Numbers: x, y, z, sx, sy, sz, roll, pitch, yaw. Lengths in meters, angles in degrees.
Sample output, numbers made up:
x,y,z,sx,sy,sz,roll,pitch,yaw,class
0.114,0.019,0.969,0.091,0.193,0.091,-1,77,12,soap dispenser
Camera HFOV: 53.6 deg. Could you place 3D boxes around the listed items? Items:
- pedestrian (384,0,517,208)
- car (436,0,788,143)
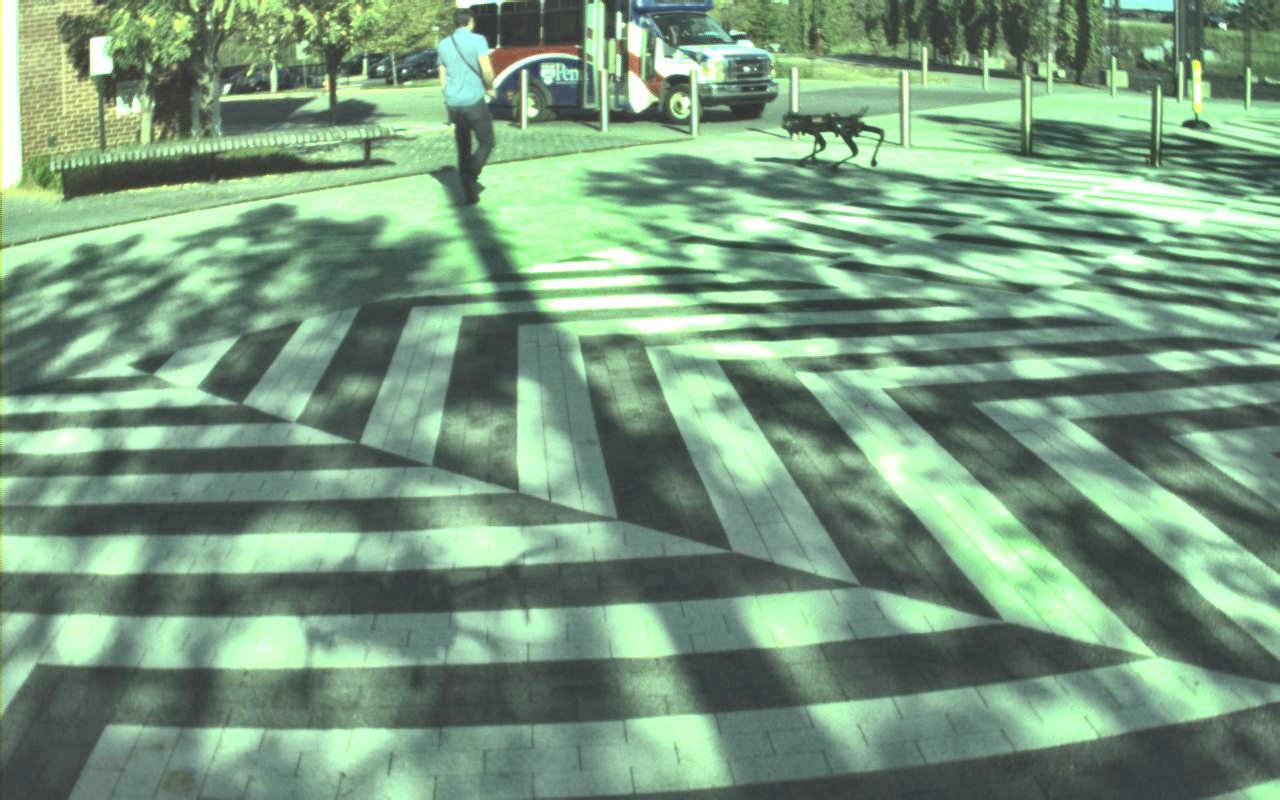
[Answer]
x,y,z,sx,sy,sz,roll,pitch,yaw,class
-1.735,-2.727,11.247,0.820,1.830,0.914,6,17,23,pedestrian
-0.690,-6.332,22.795,6.467,2.735,2.580,13,21,39,car
